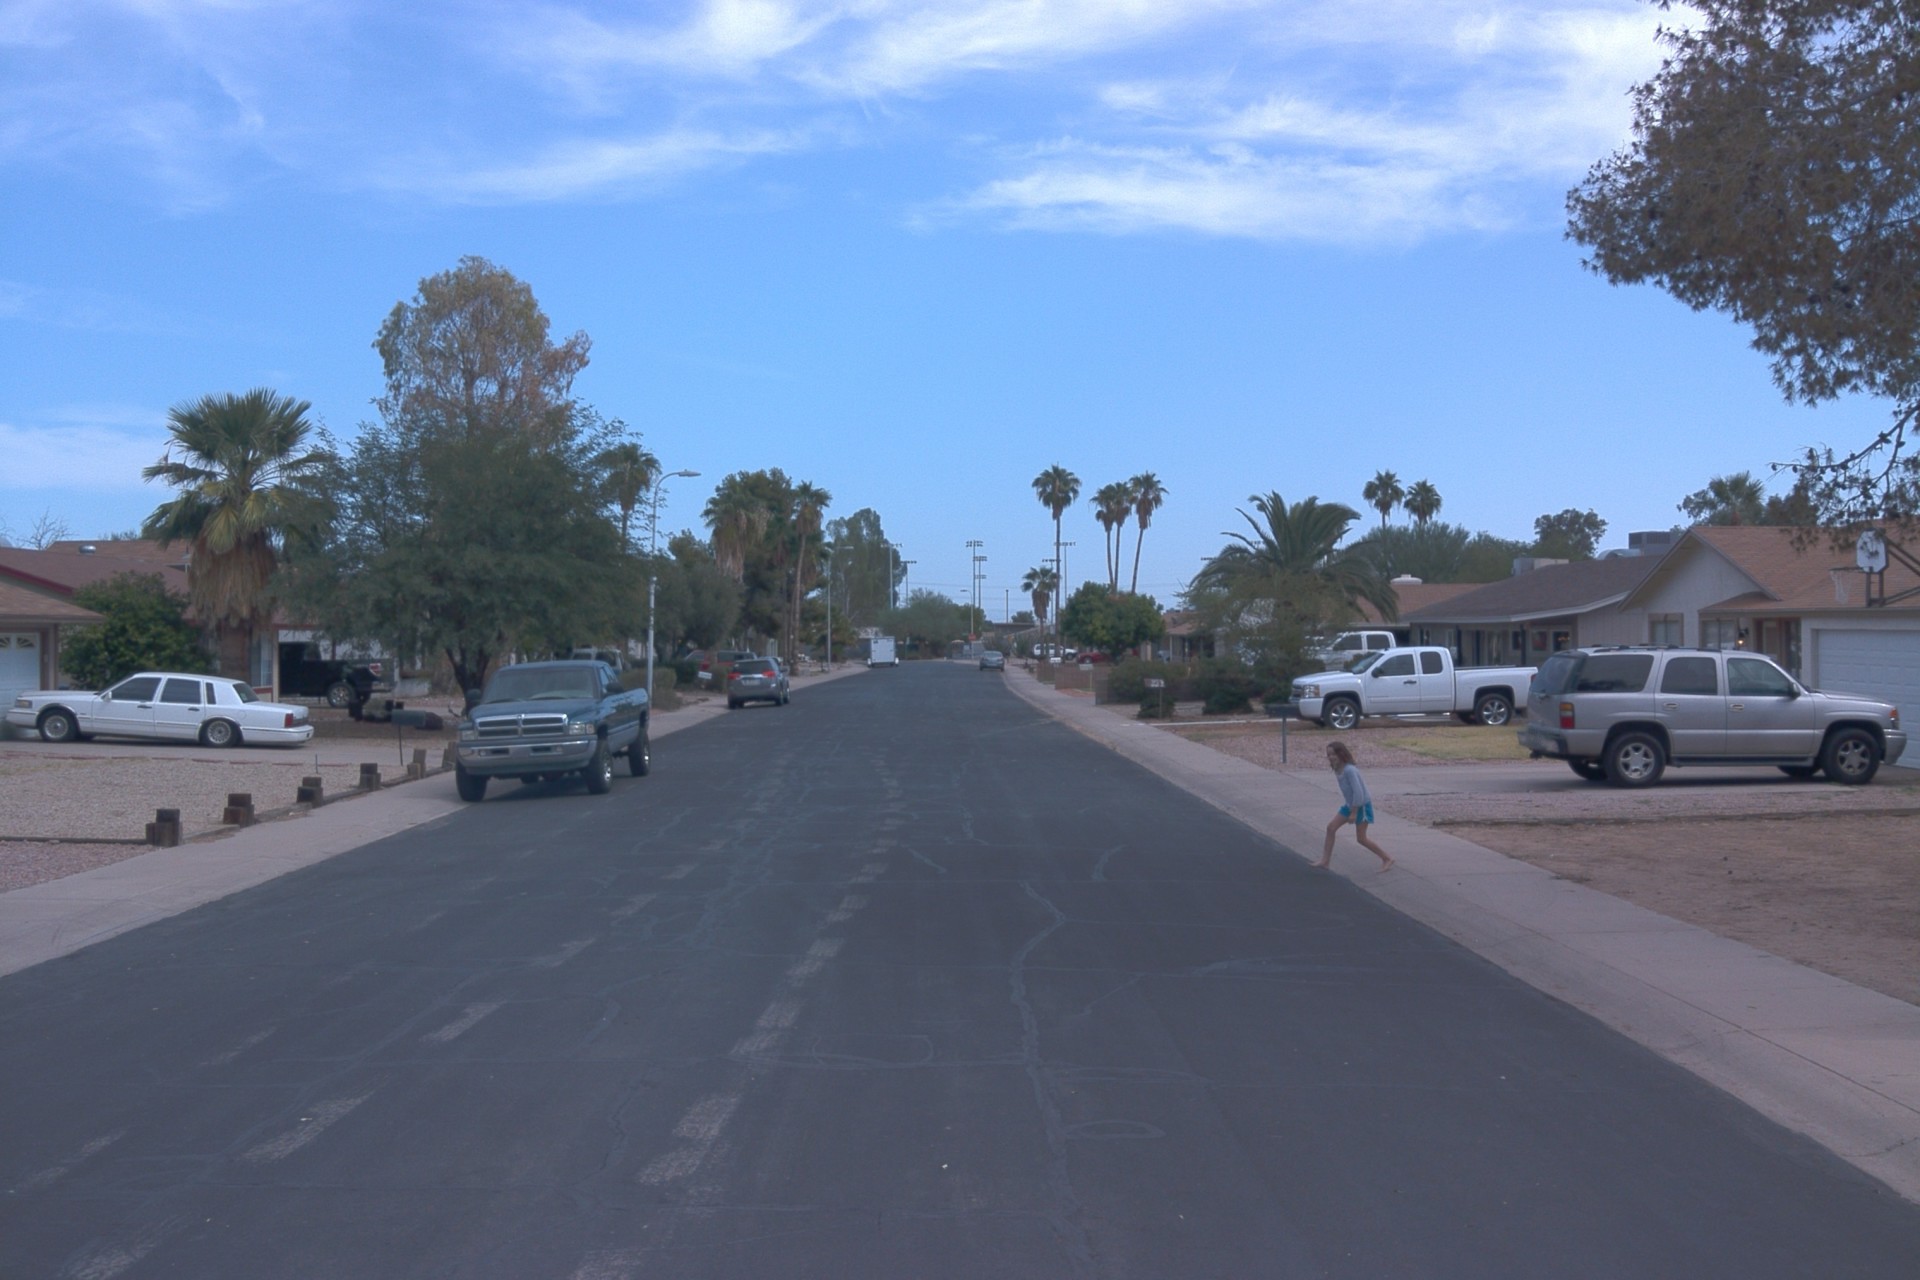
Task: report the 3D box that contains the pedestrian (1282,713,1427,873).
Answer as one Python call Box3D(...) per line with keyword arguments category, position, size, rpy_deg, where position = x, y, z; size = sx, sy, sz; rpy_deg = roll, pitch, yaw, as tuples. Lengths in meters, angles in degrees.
Box3D(category="pedestrian", position=(3.656, 1.403, 19.260), size=(1.132, 1.420, 0.947), rpy_deg=(0, 0, -2))

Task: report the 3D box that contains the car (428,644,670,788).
Box3D(category="car", position=(-6.145, 1.085, 31.877), size=(2.461, 1.980, 6.208), rpy_deg=(0, -1, 0))
